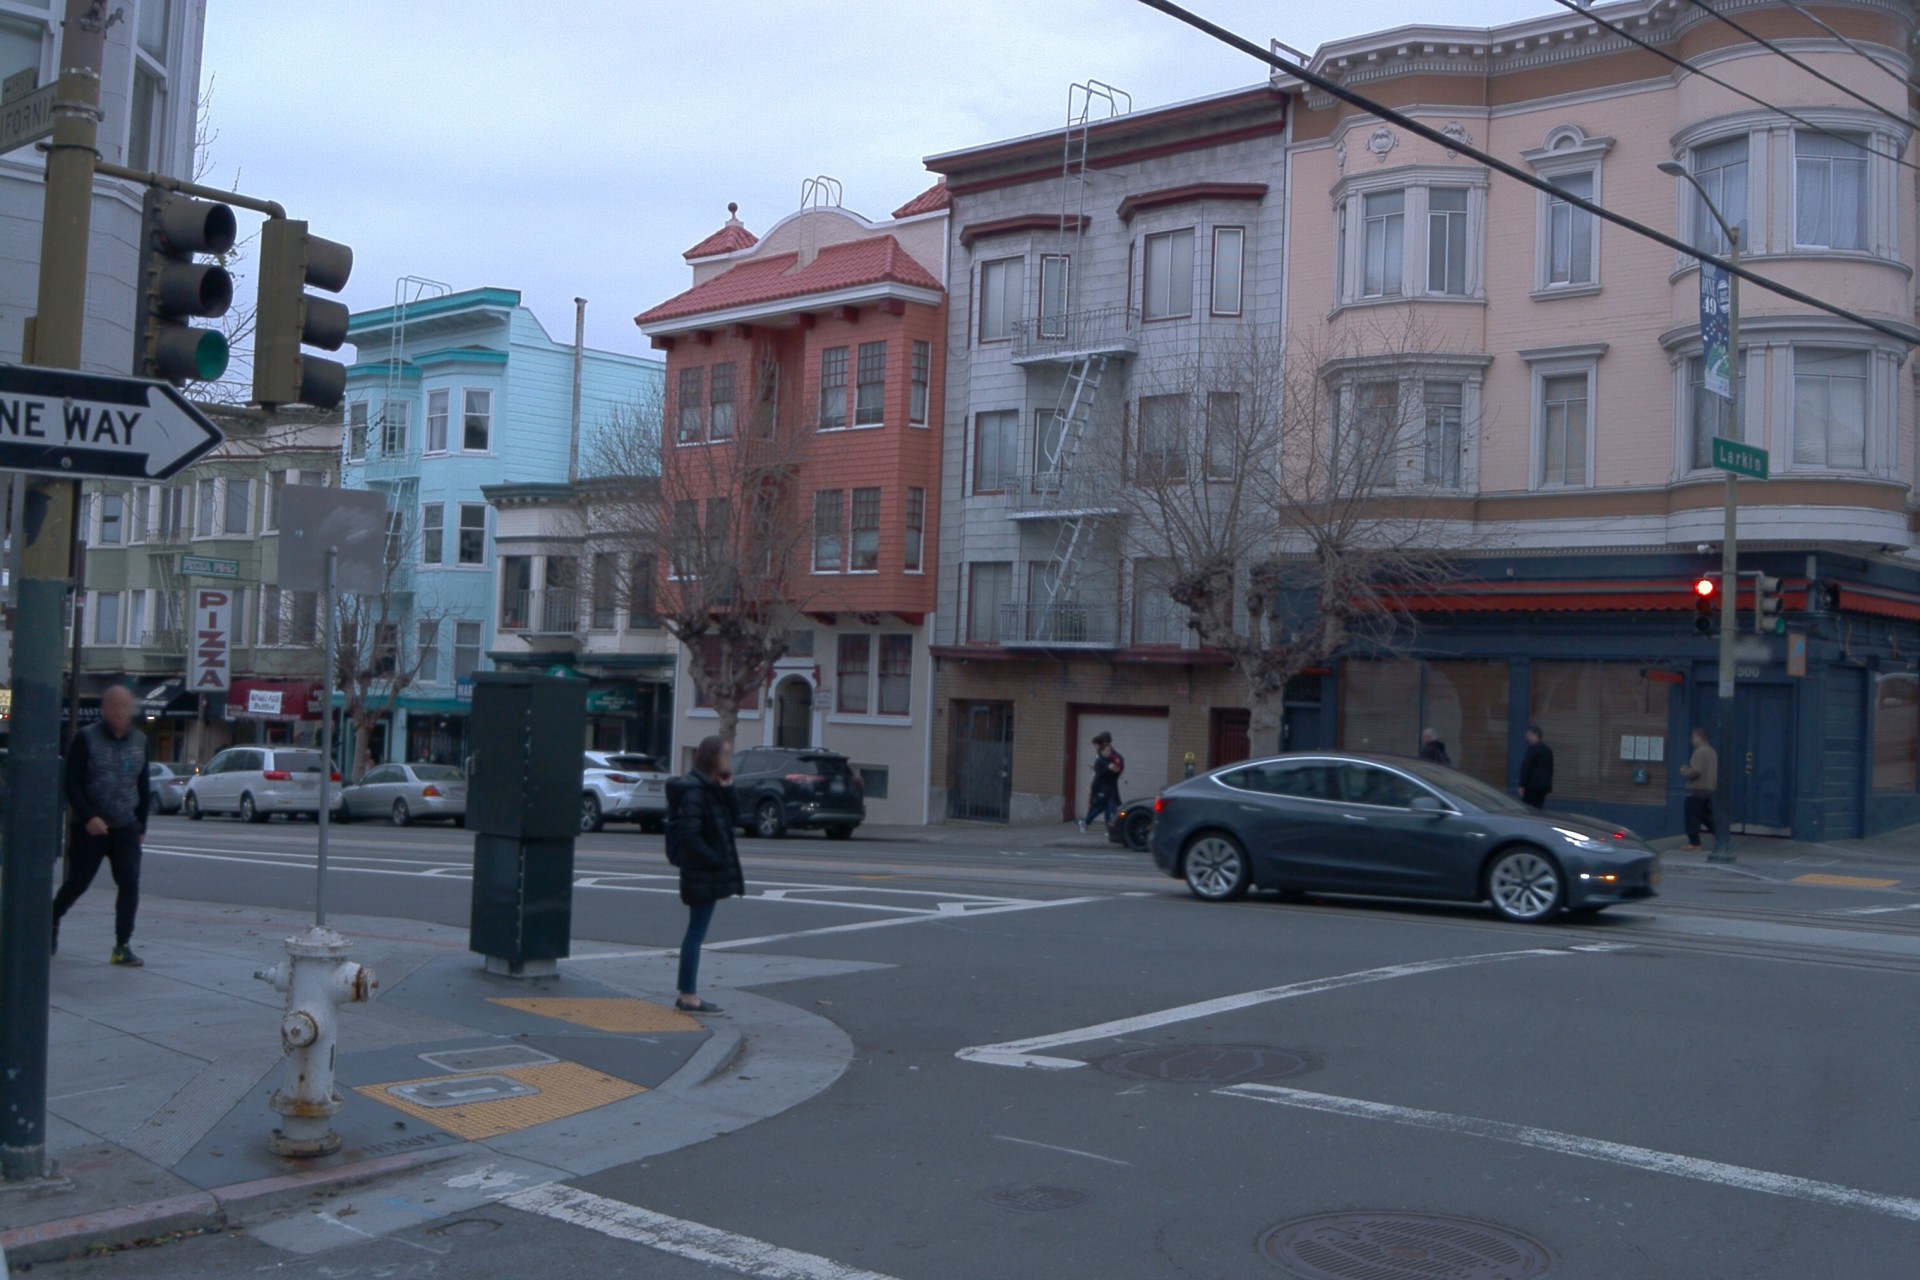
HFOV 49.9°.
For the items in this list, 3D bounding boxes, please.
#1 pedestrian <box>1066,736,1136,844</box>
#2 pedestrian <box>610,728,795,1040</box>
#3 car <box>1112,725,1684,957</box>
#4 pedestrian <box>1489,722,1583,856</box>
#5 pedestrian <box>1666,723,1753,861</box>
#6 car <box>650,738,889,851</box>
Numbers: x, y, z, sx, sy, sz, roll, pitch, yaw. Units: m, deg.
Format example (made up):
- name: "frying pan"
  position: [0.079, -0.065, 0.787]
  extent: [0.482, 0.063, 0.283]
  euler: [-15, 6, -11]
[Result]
- name: "pedestrian"
  position: [2.488, 2.632, 36.388]
  extent: [0.938, 1.800, 0.779]
  euler: [1, 1, 43]
- name: "pedestrian"
  position: [-1.515, 1.394, 12.138]
  extent: [0.846, 1.692, 0.707]
  euler: [-1, 1, -35]
- name: "car"
  position: [3.959, 1.729, 18.976]
  extent: [4.700, 1.630, 2.073]
  euler: [1, 1, 34]
- name: "pedestrian"
  position: [8.791, 2.252, 31.489]
  extent: [1.080, 1.913, 0.903]
  euler: [1, 1, 43]
- name: "pedestrian"
  position: [10.912, 2.190, 30.055]
  extent: [0.946, 1.900, 0.789]
  euler: [1, 1, 44]
- name: "car"
  position: [-3.623, 2.833, 38.769]
  extent: [4.423, 1.700, 2.100]
  euler: [1, 1, 44]
